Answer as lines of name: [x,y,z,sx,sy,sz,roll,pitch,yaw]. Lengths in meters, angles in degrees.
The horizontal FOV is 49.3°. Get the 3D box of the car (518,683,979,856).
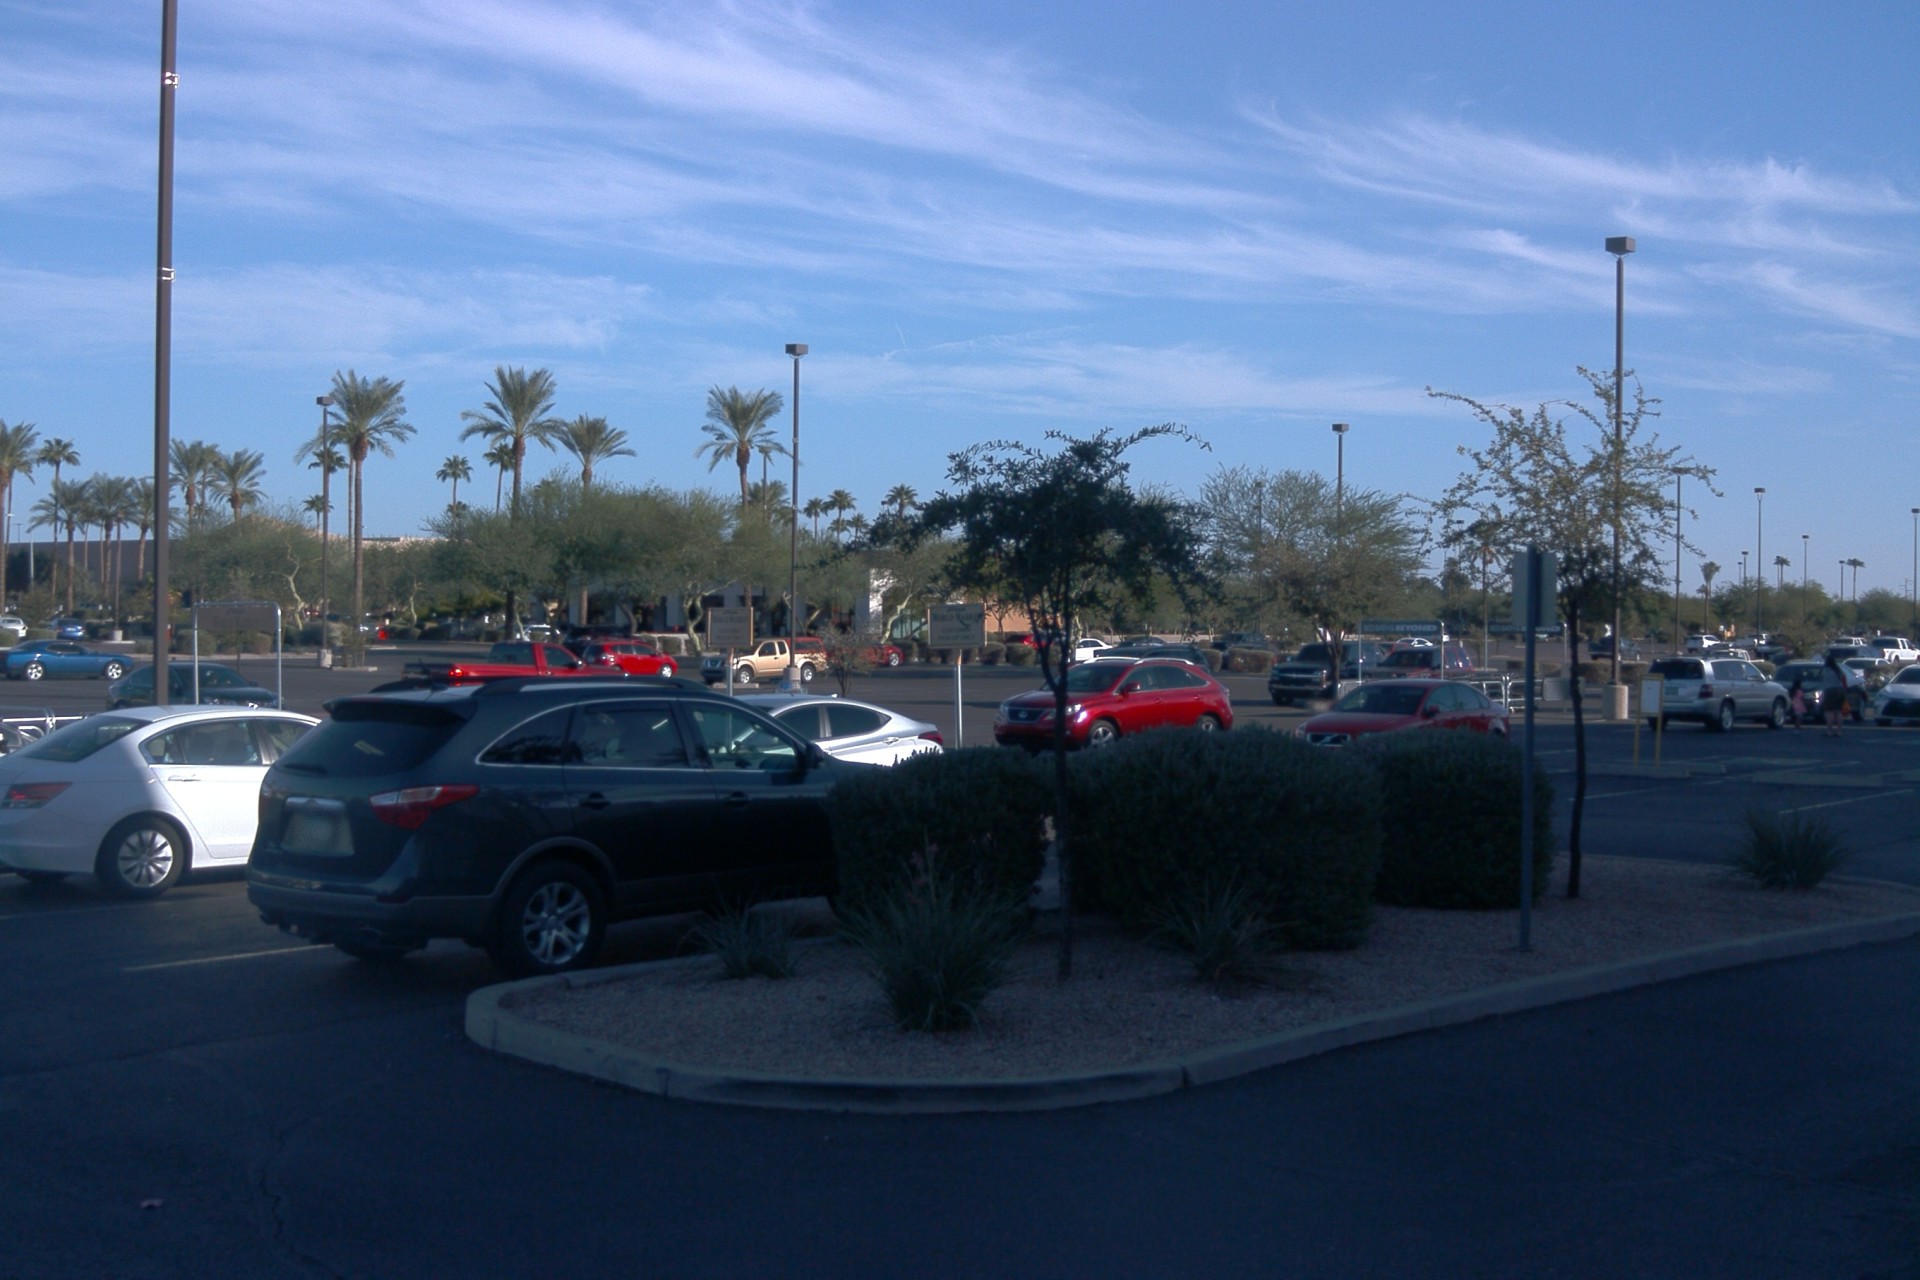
car: [-2.095,1.259,21.977,2.055,1.490,4.695,0,0,40]

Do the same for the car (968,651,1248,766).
car: [2.572,1.093,35.366,2.110,1.760,4.865,0,0,43]

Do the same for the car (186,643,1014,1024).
car: [-2.117,1.025,13.729,2.225,1.990,5.114,0,0,40]

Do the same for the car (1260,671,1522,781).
car: [6.646,1.245,31.922,2.004,1.470,4.510,0,0,40]
